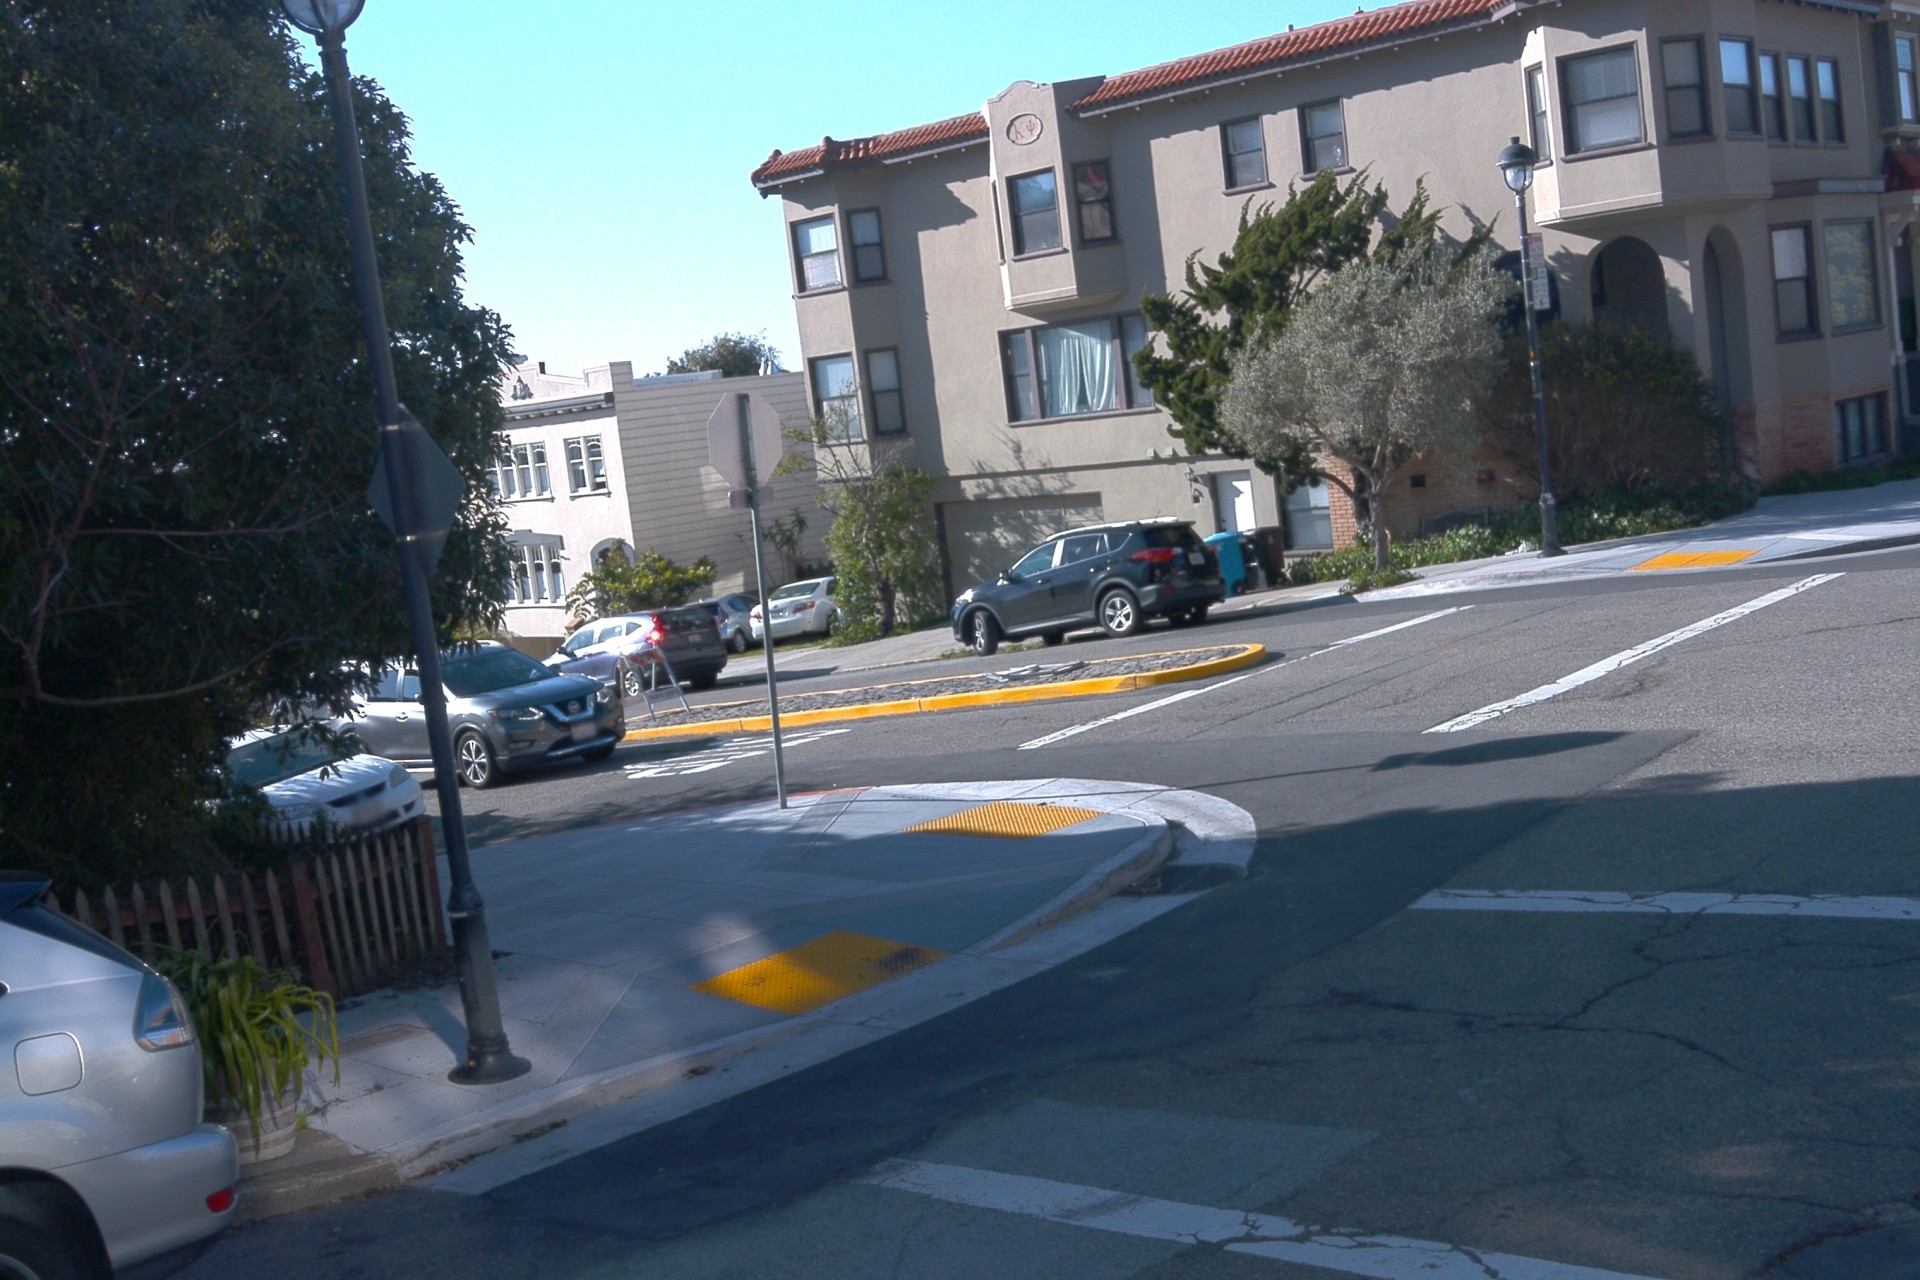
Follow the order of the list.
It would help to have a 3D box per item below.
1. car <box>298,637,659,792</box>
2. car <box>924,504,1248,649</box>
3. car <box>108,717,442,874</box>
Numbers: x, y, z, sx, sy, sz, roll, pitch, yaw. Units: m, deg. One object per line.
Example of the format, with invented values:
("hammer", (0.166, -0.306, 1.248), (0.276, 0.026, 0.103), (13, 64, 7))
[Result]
("car", (-6.050, 0.847, 25.740), (4.680, 1.740, 2.086), (0, 0, 43))
("car", (1.841, -0.891, 31.308), (4.526, 2.020, 2.204), (0, 0, 44))
("car", (-7.410, 1.589, 22.219), (1.869, 1.360, 3.981), (0, 0, -44))
